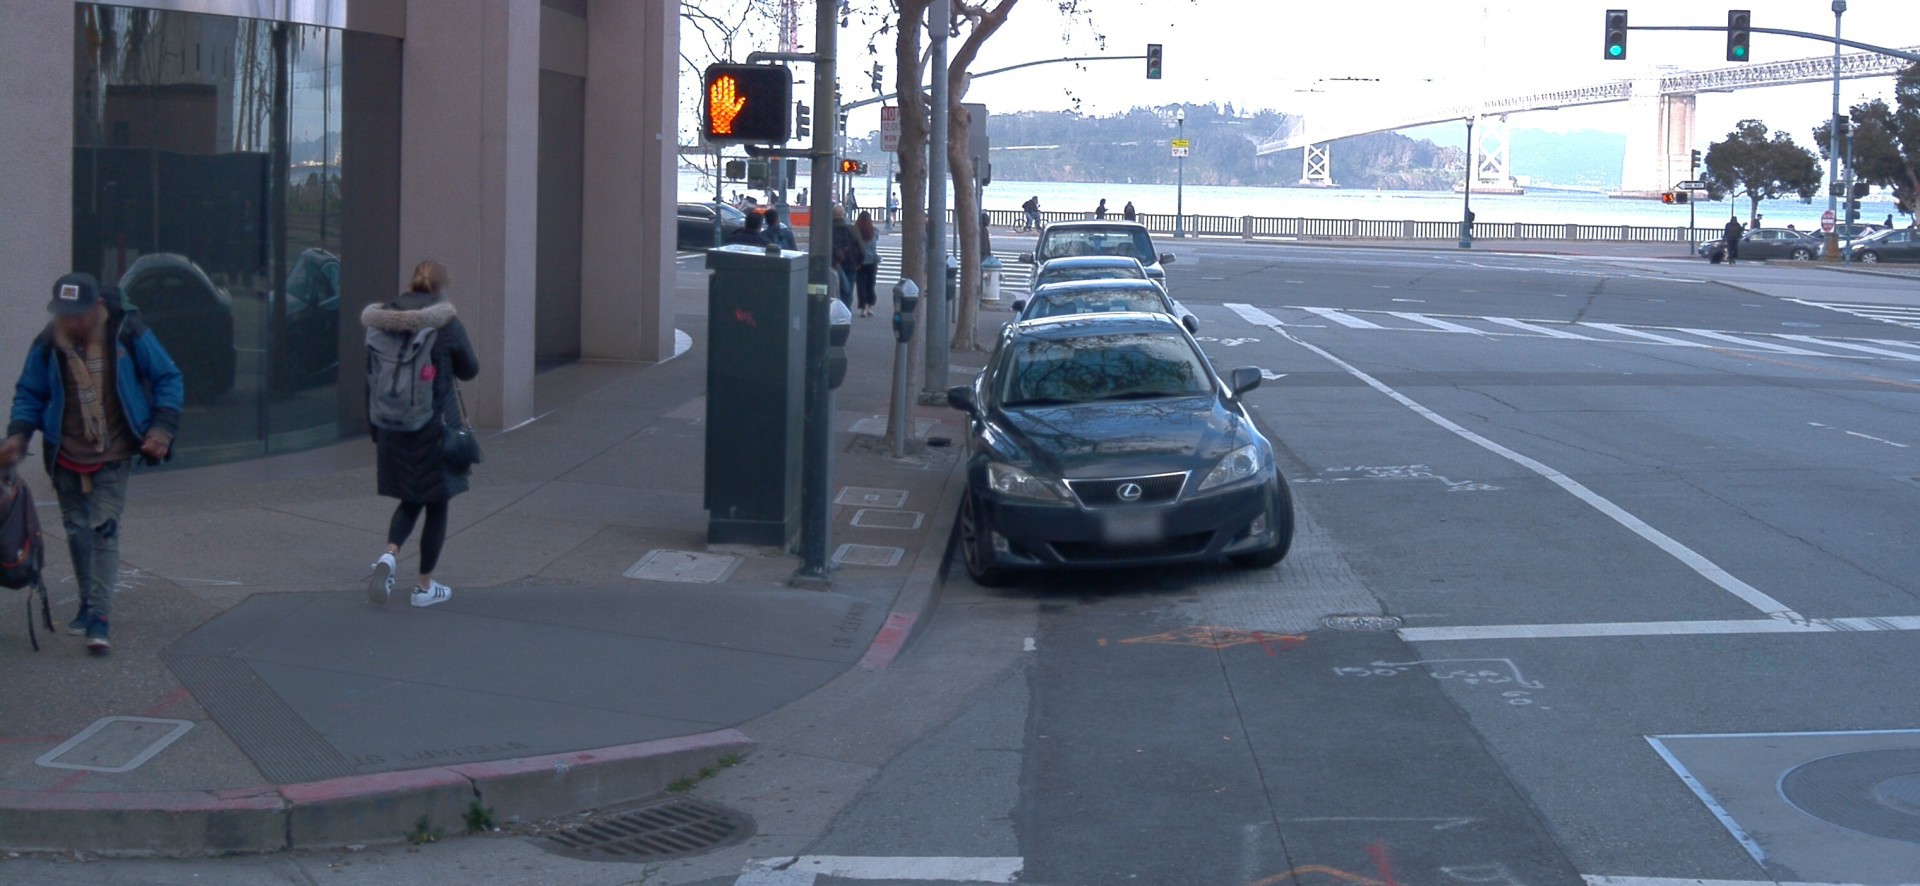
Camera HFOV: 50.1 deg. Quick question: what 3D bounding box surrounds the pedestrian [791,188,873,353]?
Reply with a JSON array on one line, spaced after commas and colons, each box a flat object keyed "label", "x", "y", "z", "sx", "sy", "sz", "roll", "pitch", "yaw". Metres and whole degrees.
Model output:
[{"label": "pedestrian", "x": -1.615, "y": -2.221, "z": 26.124, "sx": 1.012, "sy": 2.044, "sz": 1.356, "roll": 0, "pitch": 3, "yaw": -3}]

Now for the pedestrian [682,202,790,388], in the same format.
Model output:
[{"label": "pedestrian", "x": -2.302, "y": -1.562, "z": 21.254, "sx": 0.961, "sy": 1.865, "sz": 1.349, "roll": 0, "pitch": 3, "yaw": 0}]

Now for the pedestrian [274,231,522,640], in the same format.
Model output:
[{"label": "pedestrian", "x": -2.630, "y": -0.090, "z": 9.727, "sx": 0.806, "sy": 1.805, "sz": 1.093, "roll": 0, "pitch": 3, "yaw": 4}]

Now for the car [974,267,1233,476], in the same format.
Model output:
[{"label": "car", "x": 1.379, "y": -0.794, "z": 19.232, "sx": 2.122, "sy": 1.531, "sz": 4.772, "roll": 0, "pitch": 6, "yaw": 5}]

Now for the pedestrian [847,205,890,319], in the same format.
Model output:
[{"label": "pedestrian", "x": -1.494, "y": -2.952, "z": 33.436, "sx": 0.629, "sy": 1.836, "sz": 0.602, "roll": 0, "pitch": 2, "yaw": -9}]

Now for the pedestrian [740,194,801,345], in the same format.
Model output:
[{"label": "pedestrian", "x": -2.365, "y": -2.193, "z": 25.762, "sx": 0.732, "sy": 1.865, "sz": 0.947, "roll": 0, "pitch": 3, "yaw": -4}]

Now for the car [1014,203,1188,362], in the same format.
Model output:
[{"label": "car", "x": 2.058, "y": -2.561, "z": 31.502, "sx": 2.438, "sy": 2.218, "sz": 4.887, "roll": 0, "pitch": 6, "yaw": 1}]

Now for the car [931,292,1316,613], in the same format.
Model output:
[{"label": "car", "x": 0.855, "y": -0.124, "z": 13.439, "sx": 2.078, "sy": 1.501, "sz": 4.783, "roll": 0, "pitch": 6, "yaw": -1}]

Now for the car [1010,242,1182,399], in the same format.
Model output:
[{"label": "car", "x": 1.599, "y": -1.553, "z": 24.720, "sx": 1.889, "sy": 1.641, "sz": 4.066, "roll": 0, "pitch": 6, "yaw": 3}]

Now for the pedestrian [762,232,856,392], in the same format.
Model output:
[{"label": "pedestrian", "x": -1.542, "y": -1.372, "z": 21.168, "sx": 0.873, "sy": 1.586, "sz": 1.034, "roll": 0, "pitch": 3, "yaw": 1}]
